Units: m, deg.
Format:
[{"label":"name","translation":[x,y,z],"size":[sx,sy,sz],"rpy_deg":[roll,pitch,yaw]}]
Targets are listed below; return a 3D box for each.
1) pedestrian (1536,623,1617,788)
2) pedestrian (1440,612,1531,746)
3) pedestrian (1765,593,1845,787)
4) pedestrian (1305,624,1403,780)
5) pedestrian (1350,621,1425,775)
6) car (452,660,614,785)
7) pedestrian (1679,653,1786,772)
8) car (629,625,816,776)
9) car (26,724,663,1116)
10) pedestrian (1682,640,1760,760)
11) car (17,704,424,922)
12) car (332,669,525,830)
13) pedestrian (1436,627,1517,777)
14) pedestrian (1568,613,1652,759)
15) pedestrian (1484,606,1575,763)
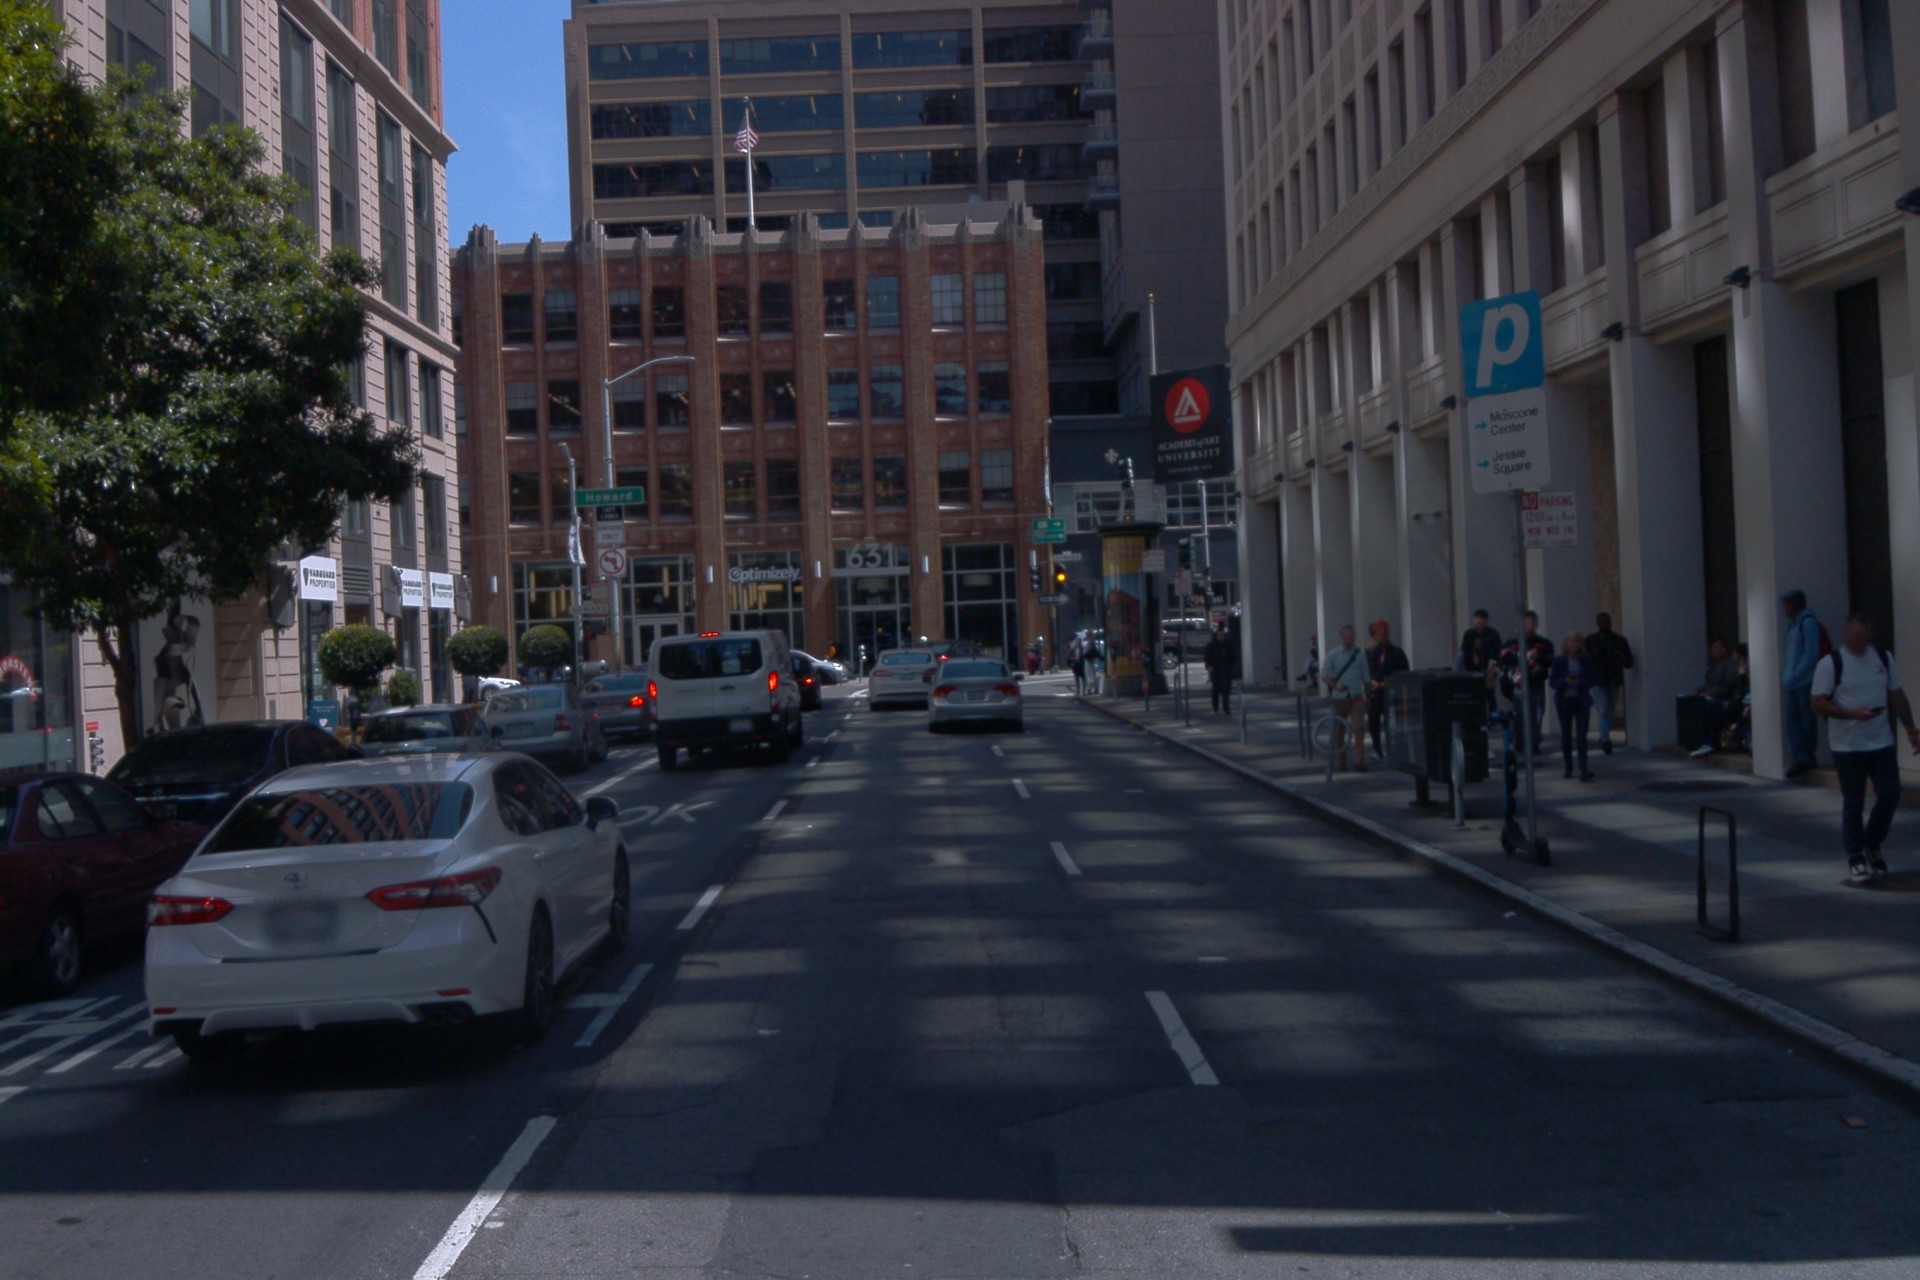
[{"label":"pedestrian","translation":[6.636,0.687,22.143],"size":[0.741,1.736,0.892],"rpy_deg":[0,1,11]},{"label":"pedestrian","translation":[7.633,0.543,29.825],"size":[0.902,1.886,1.180],"rpy_deg":[0,1,36]},{"label":"pedestrian","translation":[8.420,0.486,20.491],"size":[0.553,1.903,0.538],"rpy_deg":[0,1,-2]},{"label":"pedestrian","translation":[4.778,0.735,25.005],"size":[0.897,1.846,1.186],"rpy_deg":[0,1,-3]},{"label":"pedestrian","translation":[5.357,0.707,25.810],"size":[0.868,1.886,0.942],"rpy_deg":[0,1,9]},{"label":"car","translation":[-6.892,1.272,33.629],"size":[2.013,1.790,4.575],"rpy_deg":[0,1,-4]},{"label":"pedestrian","translation":[8.573,0.791,22.815],"size":[0.965,1.270,0.638],"rpy_deg":[0,1,39]},{"label":"car","translation":[-3.723,0.870,33.365],"size":[2.374,2.200,5.788],"rpy_deg":[0,1,0]},{"label":"car","translation":[-3.147,1.371,11.830],"size":[2.215,1.500,5.057],"rpy_deg":[0,1,-1]},{"label":"pedestrian","translation":[8.672,0.675,23.438],"size":[0.609,1.328,0.748],"rpy_deg":[0,1,0]},{"label":"car","translation":[-6.818,1.520,19.674],"size":[2.116,1.570,5.218],"rpy_deg":[0,1,-1]},{"label":"car","translation":[-6.864,1.361,26.901],"size":[1.876,1.840,3.763],"rpy_deg":[0,1,-6]},{"label":"pedestrian","translation":[6.336,0.747,25.262],"size":[0.782,1.806,0.991],"rpy_deg":[0,1,3]},{"label":"pedestrian","translation":[7.875,0.539,24.937],"size":[0.865,1.736,0.940],"rpy_deg":[0,1,11]},{"label":"pedestrian","translation":[7.038,0.538,25.451],"size":[0.895,1.906,1.030],"rpy_deg":[0,1,4]}]
